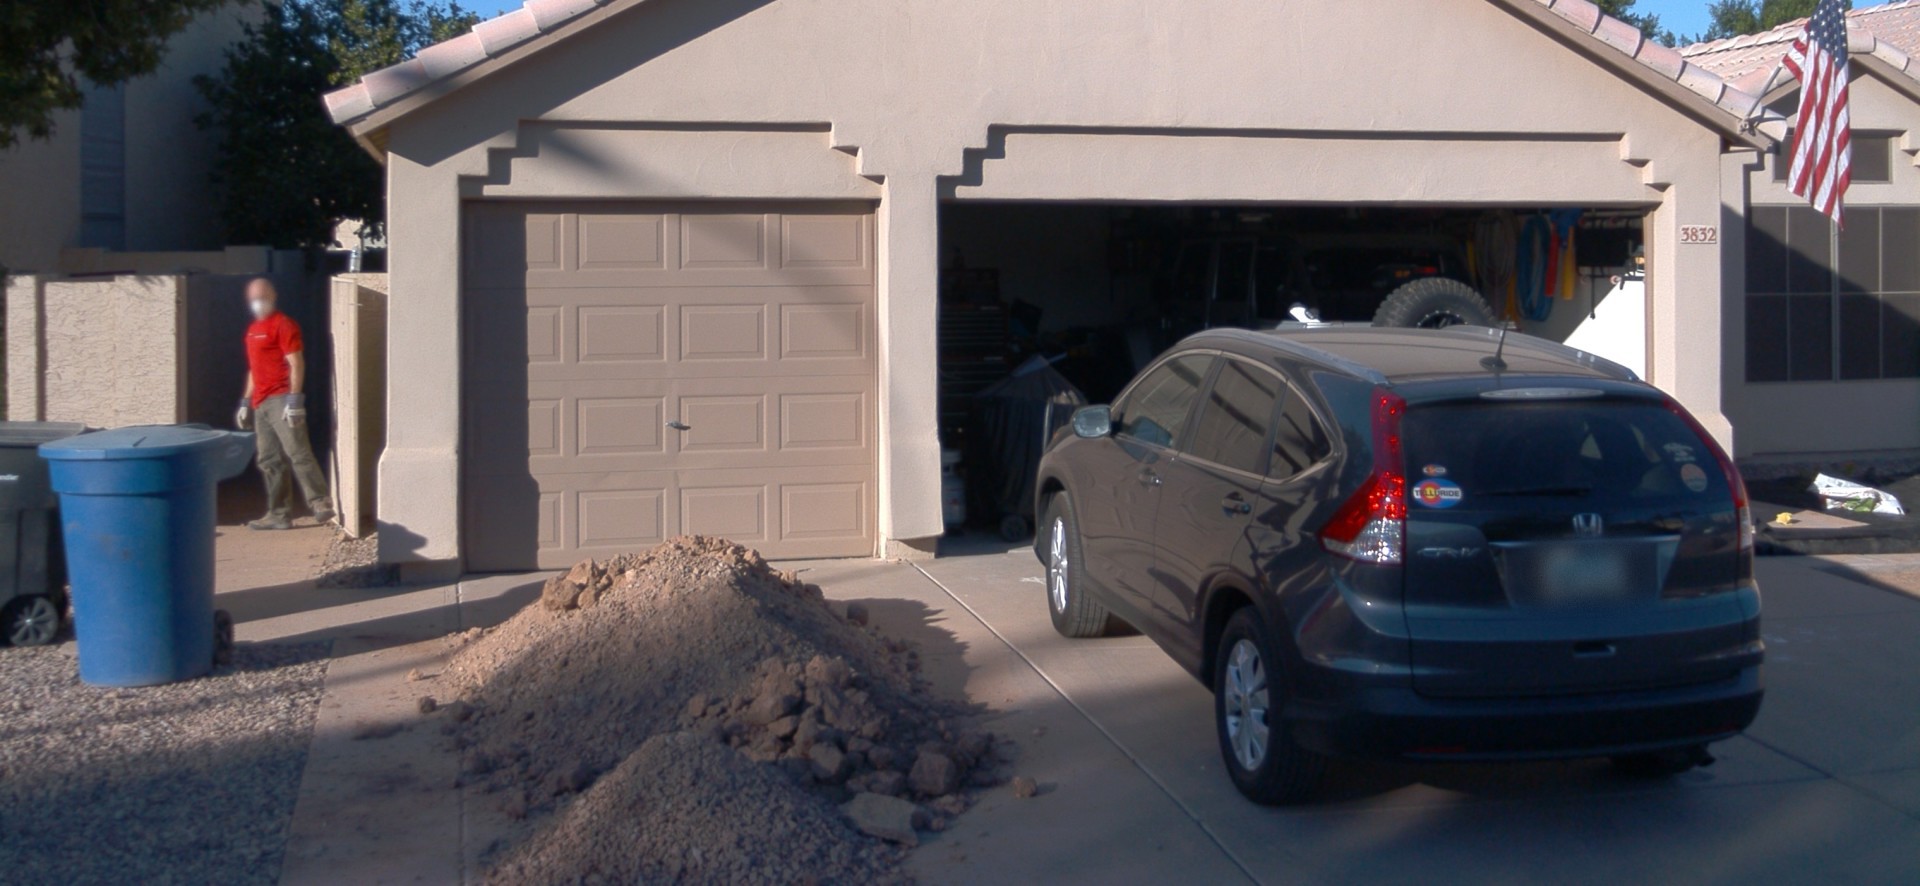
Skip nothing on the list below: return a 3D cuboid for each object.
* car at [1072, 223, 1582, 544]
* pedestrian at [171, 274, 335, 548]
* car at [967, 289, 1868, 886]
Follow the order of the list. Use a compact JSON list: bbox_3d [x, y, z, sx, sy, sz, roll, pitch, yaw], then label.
[{"bbox_3d":[2.551,-0.614,15.876,2.116,2.034,4.663,-1,4,-14],"label":"car"},{"bbox_3d":[-4.720,-0.245,13.934,0.783,1.751,0.679,0,1,33],"label":"pedestrian"},{"bbox_3d":[1.548,0.326,8.986,2.050,1.865,4.514,-1,5,-13],"label":"car"}]
